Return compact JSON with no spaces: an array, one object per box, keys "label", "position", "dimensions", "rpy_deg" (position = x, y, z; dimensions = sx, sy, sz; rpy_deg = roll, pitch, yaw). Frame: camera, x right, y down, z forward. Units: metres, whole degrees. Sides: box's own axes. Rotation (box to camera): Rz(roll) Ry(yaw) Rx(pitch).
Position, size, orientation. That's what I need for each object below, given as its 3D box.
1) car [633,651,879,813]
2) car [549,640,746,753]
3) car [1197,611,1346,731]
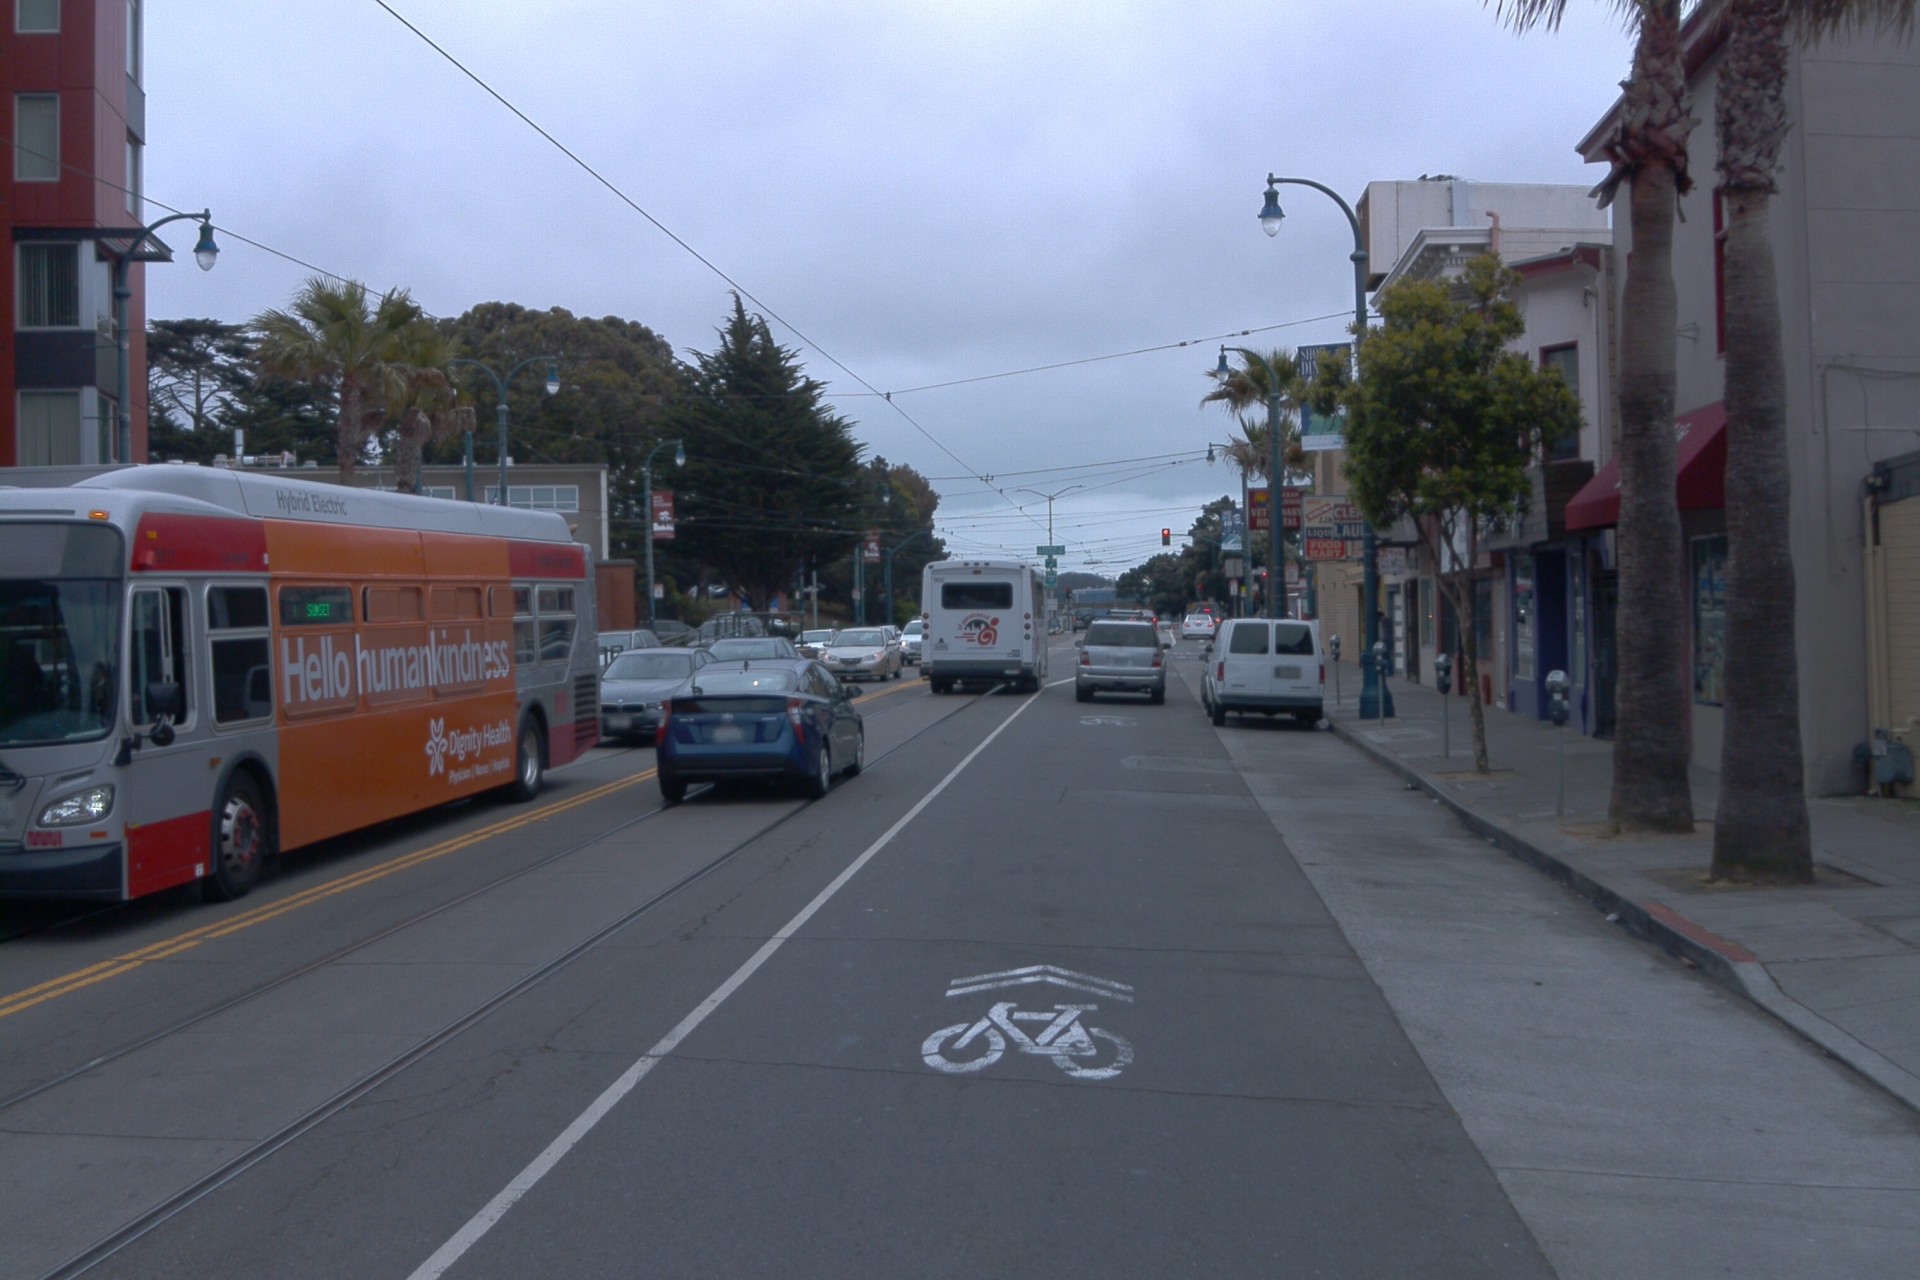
[{"label":"car","position":[-2.158,0.942,22.941],"dimensions":[1.973,1.540,4.257],"rpy_deg":[0,1,5]},{"label":"car","position":[-4.732,0.819,31.833],"dimensions":[1.966,1.540,4.638],"rpy_deg":[0,1,5]},{"label":"car","position":[5.507,0.489,36.952],"dimensions":[2.317,2.000,4.856],"rpy_deg":[0,1,5]}]
